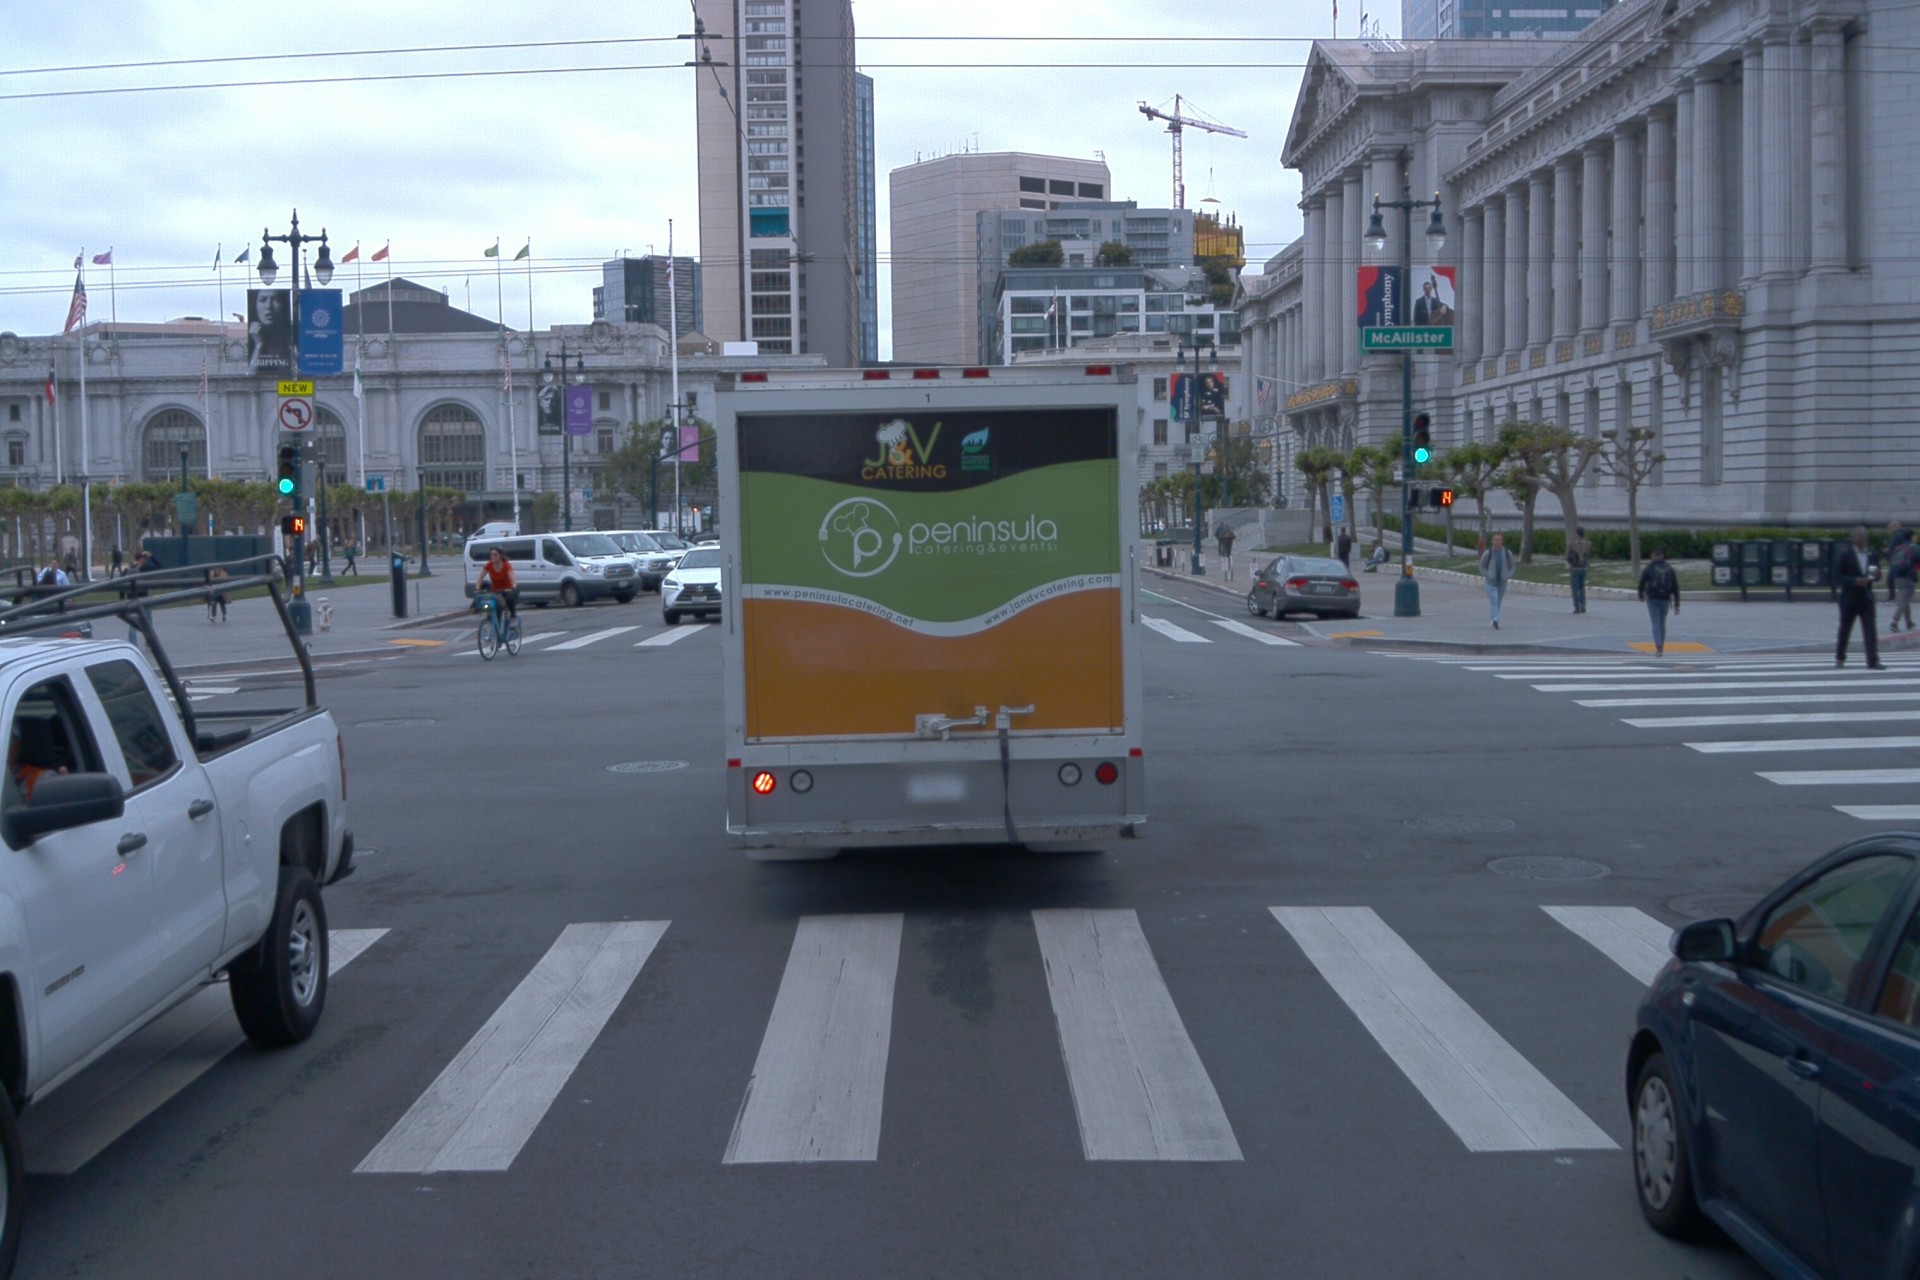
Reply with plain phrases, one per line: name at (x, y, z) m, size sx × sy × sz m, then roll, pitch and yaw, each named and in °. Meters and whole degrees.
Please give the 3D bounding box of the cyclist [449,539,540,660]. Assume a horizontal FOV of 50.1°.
cyclist at (-7.348, -0.639, 32.547) m, size 0.829 × 1.850 × 1.925 m, roll 0°, pitch 1°, yaw 5°

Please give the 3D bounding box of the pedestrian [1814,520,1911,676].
pedestrian at (10.939, -0.501, 24.945) m, size 0.812 × 1.850 × 0.950 m, roll 0°, pitch 1°, yaw 6°

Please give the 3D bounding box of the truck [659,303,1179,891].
truck at (-0.424, -0.304, 15.240) m, size 2.916 × 3.300 × 7.287 m, roll 0°, pitch 1°, yaw -3°

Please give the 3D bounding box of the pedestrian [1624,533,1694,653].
pedestrian at (10.475, -0.698, 30.848) m, size 0.832 × 1.760 × 0.933 m, roll 0°, pitch 1°, yaw 8°

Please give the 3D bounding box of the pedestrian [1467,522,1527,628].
pedestrian at (9.543, -1.154, 36.587) m, size 0.811 × 1.850 × 1.152 m, roll 0°, pitch 1°, yaw 3°

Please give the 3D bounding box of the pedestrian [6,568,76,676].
pedestrian at (-14.971, -0.304, 33.512) m, size 0.791 × 1.734 × 0.967 m, roll 0°, pitch 1°, yaw -8°
